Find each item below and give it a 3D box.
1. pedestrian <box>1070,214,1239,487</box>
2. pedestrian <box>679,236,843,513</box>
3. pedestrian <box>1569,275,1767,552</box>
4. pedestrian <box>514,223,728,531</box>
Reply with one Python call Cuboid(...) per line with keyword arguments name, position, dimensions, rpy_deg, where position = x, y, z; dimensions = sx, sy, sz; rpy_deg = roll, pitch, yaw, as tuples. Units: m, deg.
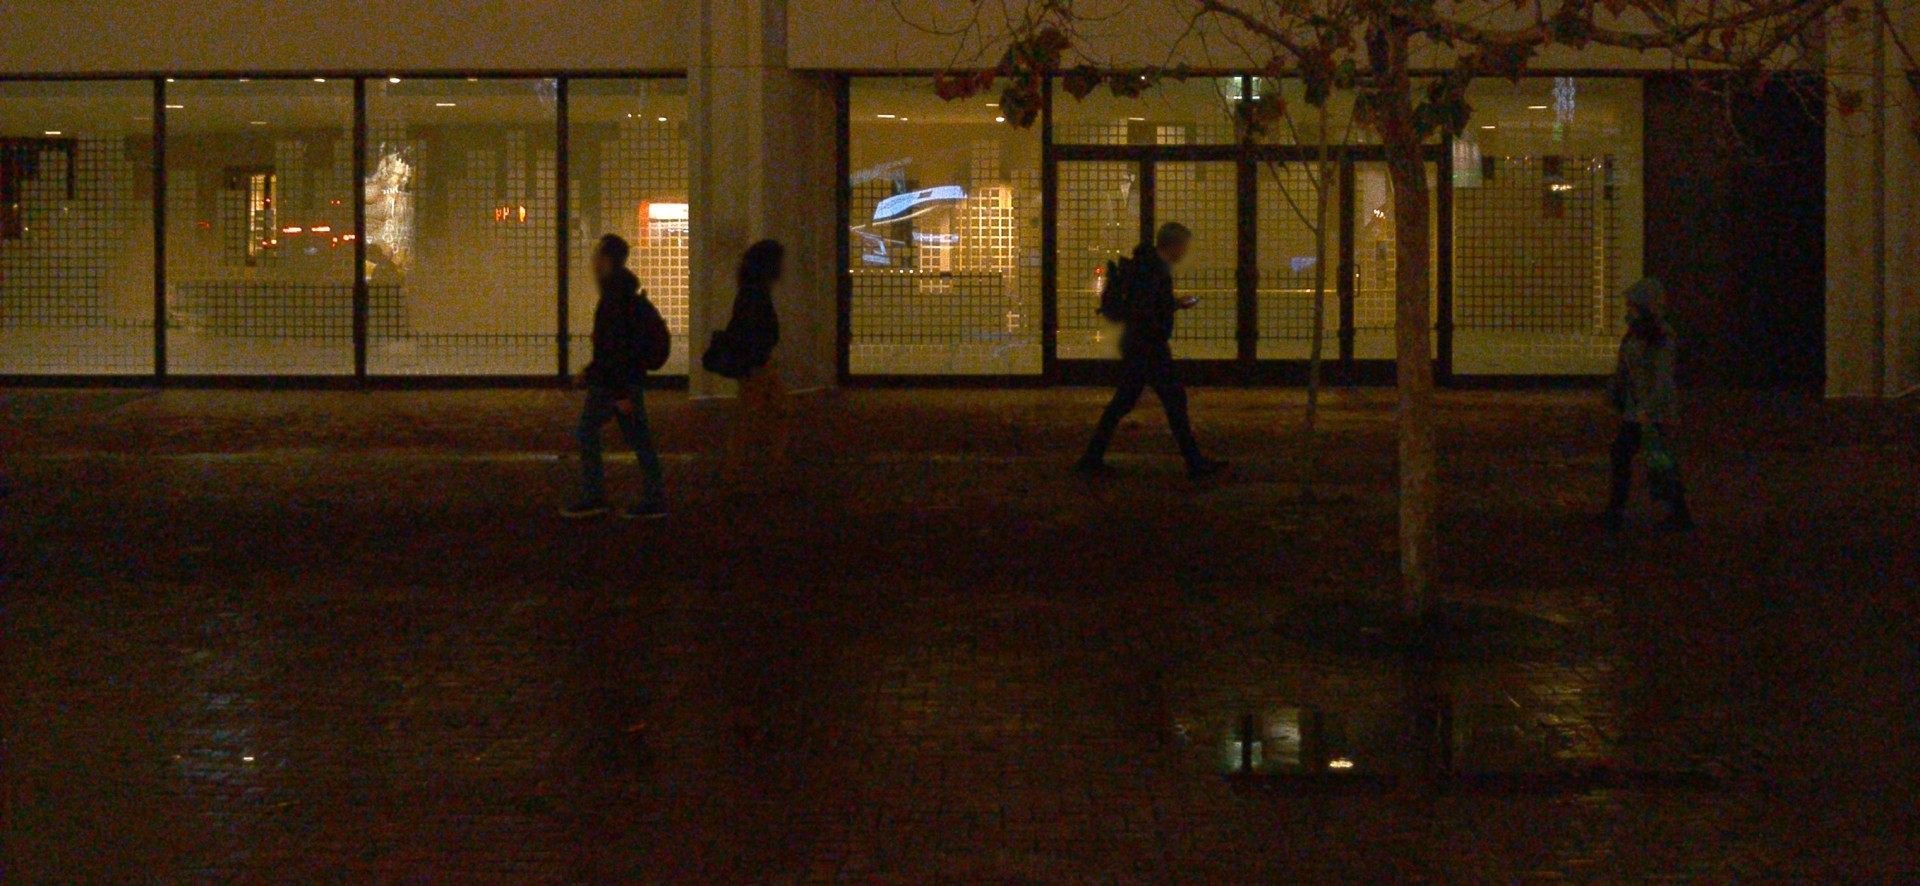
Cuboid(name="pedestrian", position=(1.328, -0.661, 14.261), dimensions=(1.111, 1.831, 0.844), rpy_deg=(0, 1, 1))
Cuboid(name="pedestrian", position=(-1.320, -0.478, 13.661), dimensions=(1.048, 1.781, 0.730), rpy_deg=(0, 0, -6))
Cuboid(name="pedestrian", position=(4.202, -0.208, 12.283), dimensions=(0.868, 1.581, 0.941), rpy_deg=(0, 1, 1))
Cuboid(name="pedestrian", position=(-2.102, -0.439, 12.858), dimensions=(1.141, 1.851, 0.760), rpy_deg=(0, 0, 8))
